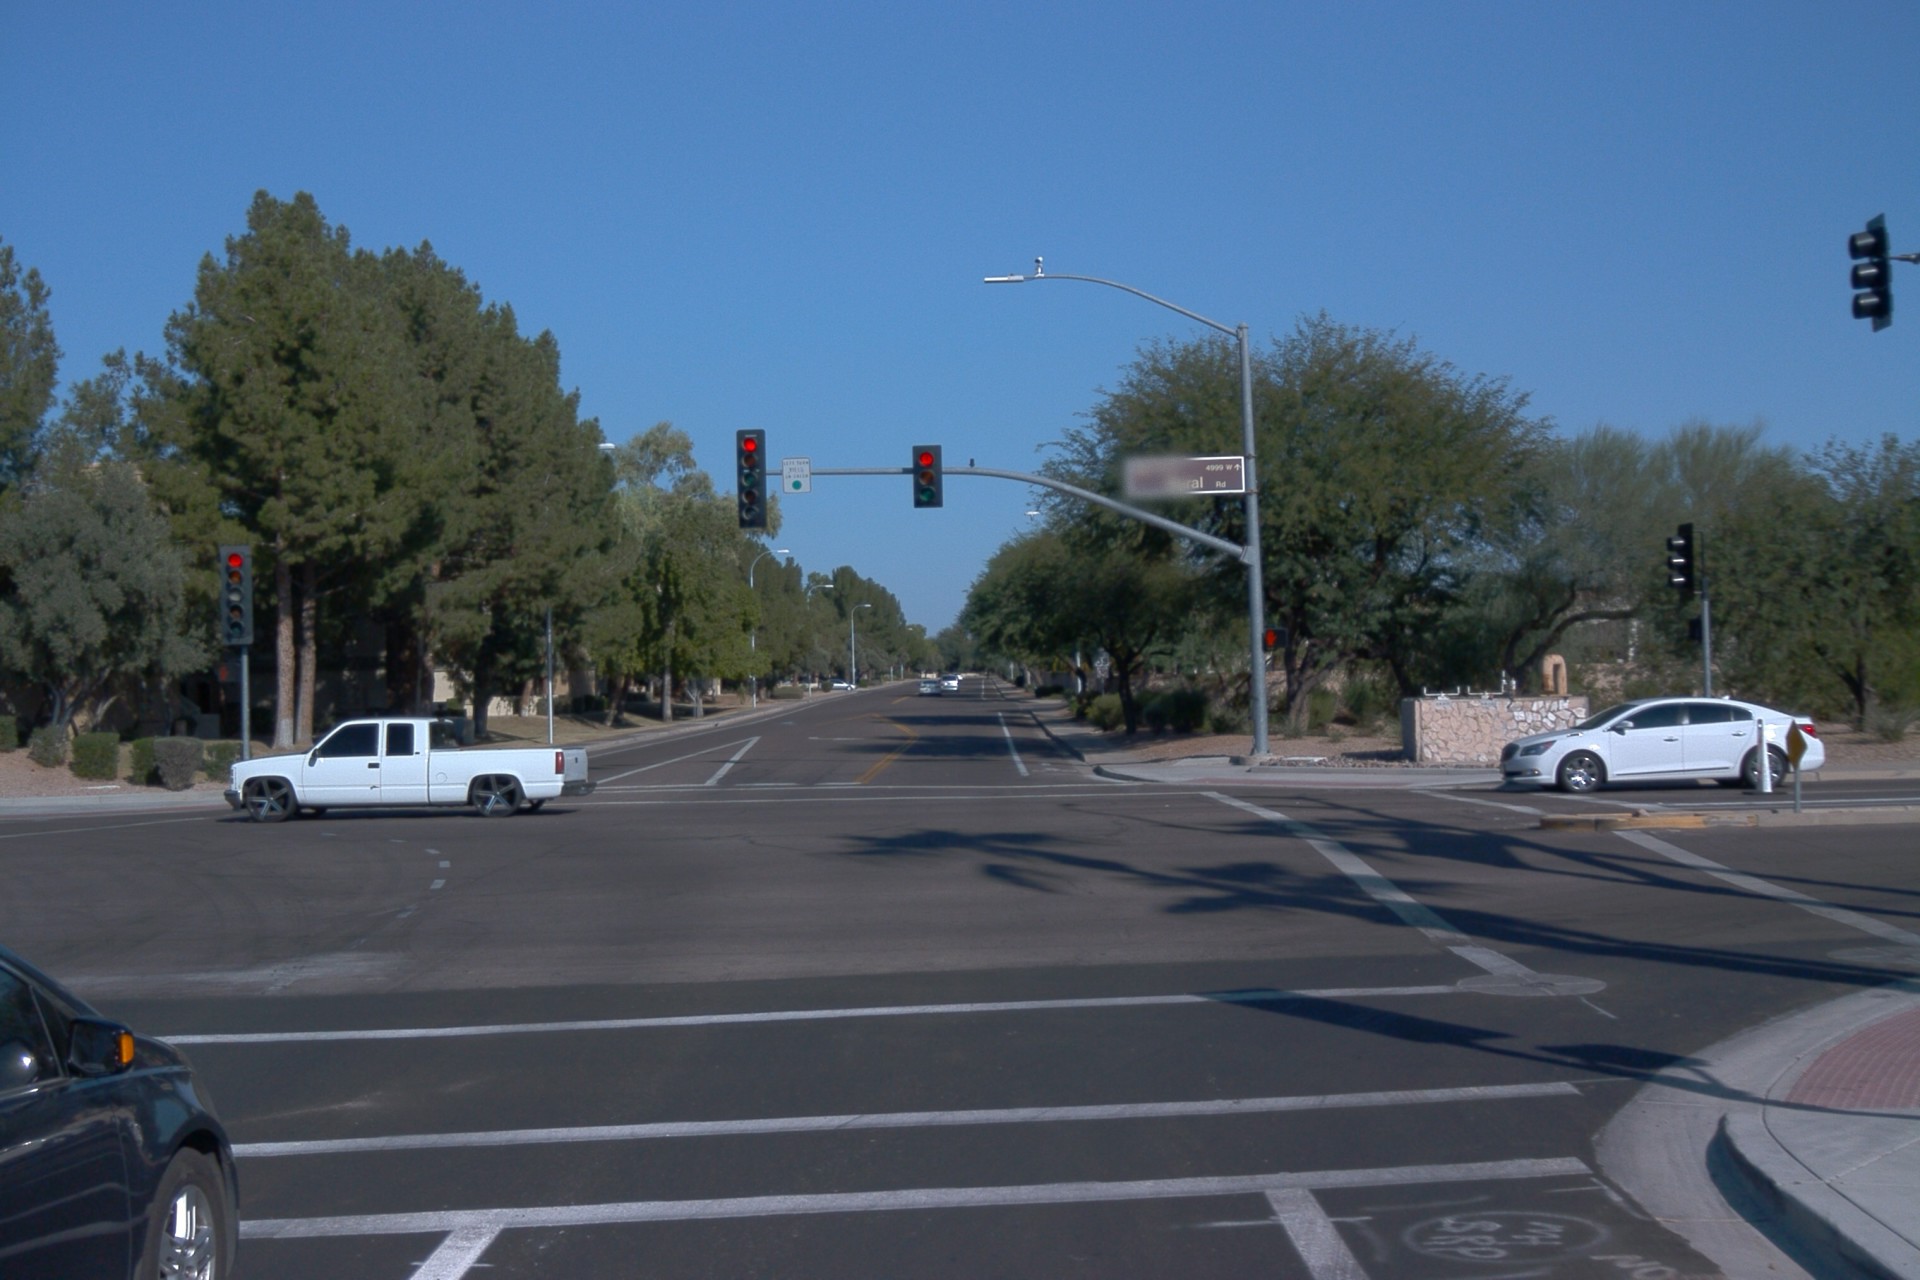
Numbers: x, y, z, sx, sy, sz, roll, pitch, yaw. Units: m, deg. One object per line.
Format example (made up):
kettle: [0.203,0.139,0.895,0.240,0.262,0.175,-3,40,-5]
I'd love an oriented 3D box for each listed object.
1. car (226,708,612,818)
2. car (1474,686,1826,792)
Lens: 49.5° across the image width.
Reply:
car: [-8.745,1.981,33.997,5.709,1.710,2.170,0,-1,2]
car: [11.016,1.566,33.486,5.009,1.640,1.981,0,-1,2]
